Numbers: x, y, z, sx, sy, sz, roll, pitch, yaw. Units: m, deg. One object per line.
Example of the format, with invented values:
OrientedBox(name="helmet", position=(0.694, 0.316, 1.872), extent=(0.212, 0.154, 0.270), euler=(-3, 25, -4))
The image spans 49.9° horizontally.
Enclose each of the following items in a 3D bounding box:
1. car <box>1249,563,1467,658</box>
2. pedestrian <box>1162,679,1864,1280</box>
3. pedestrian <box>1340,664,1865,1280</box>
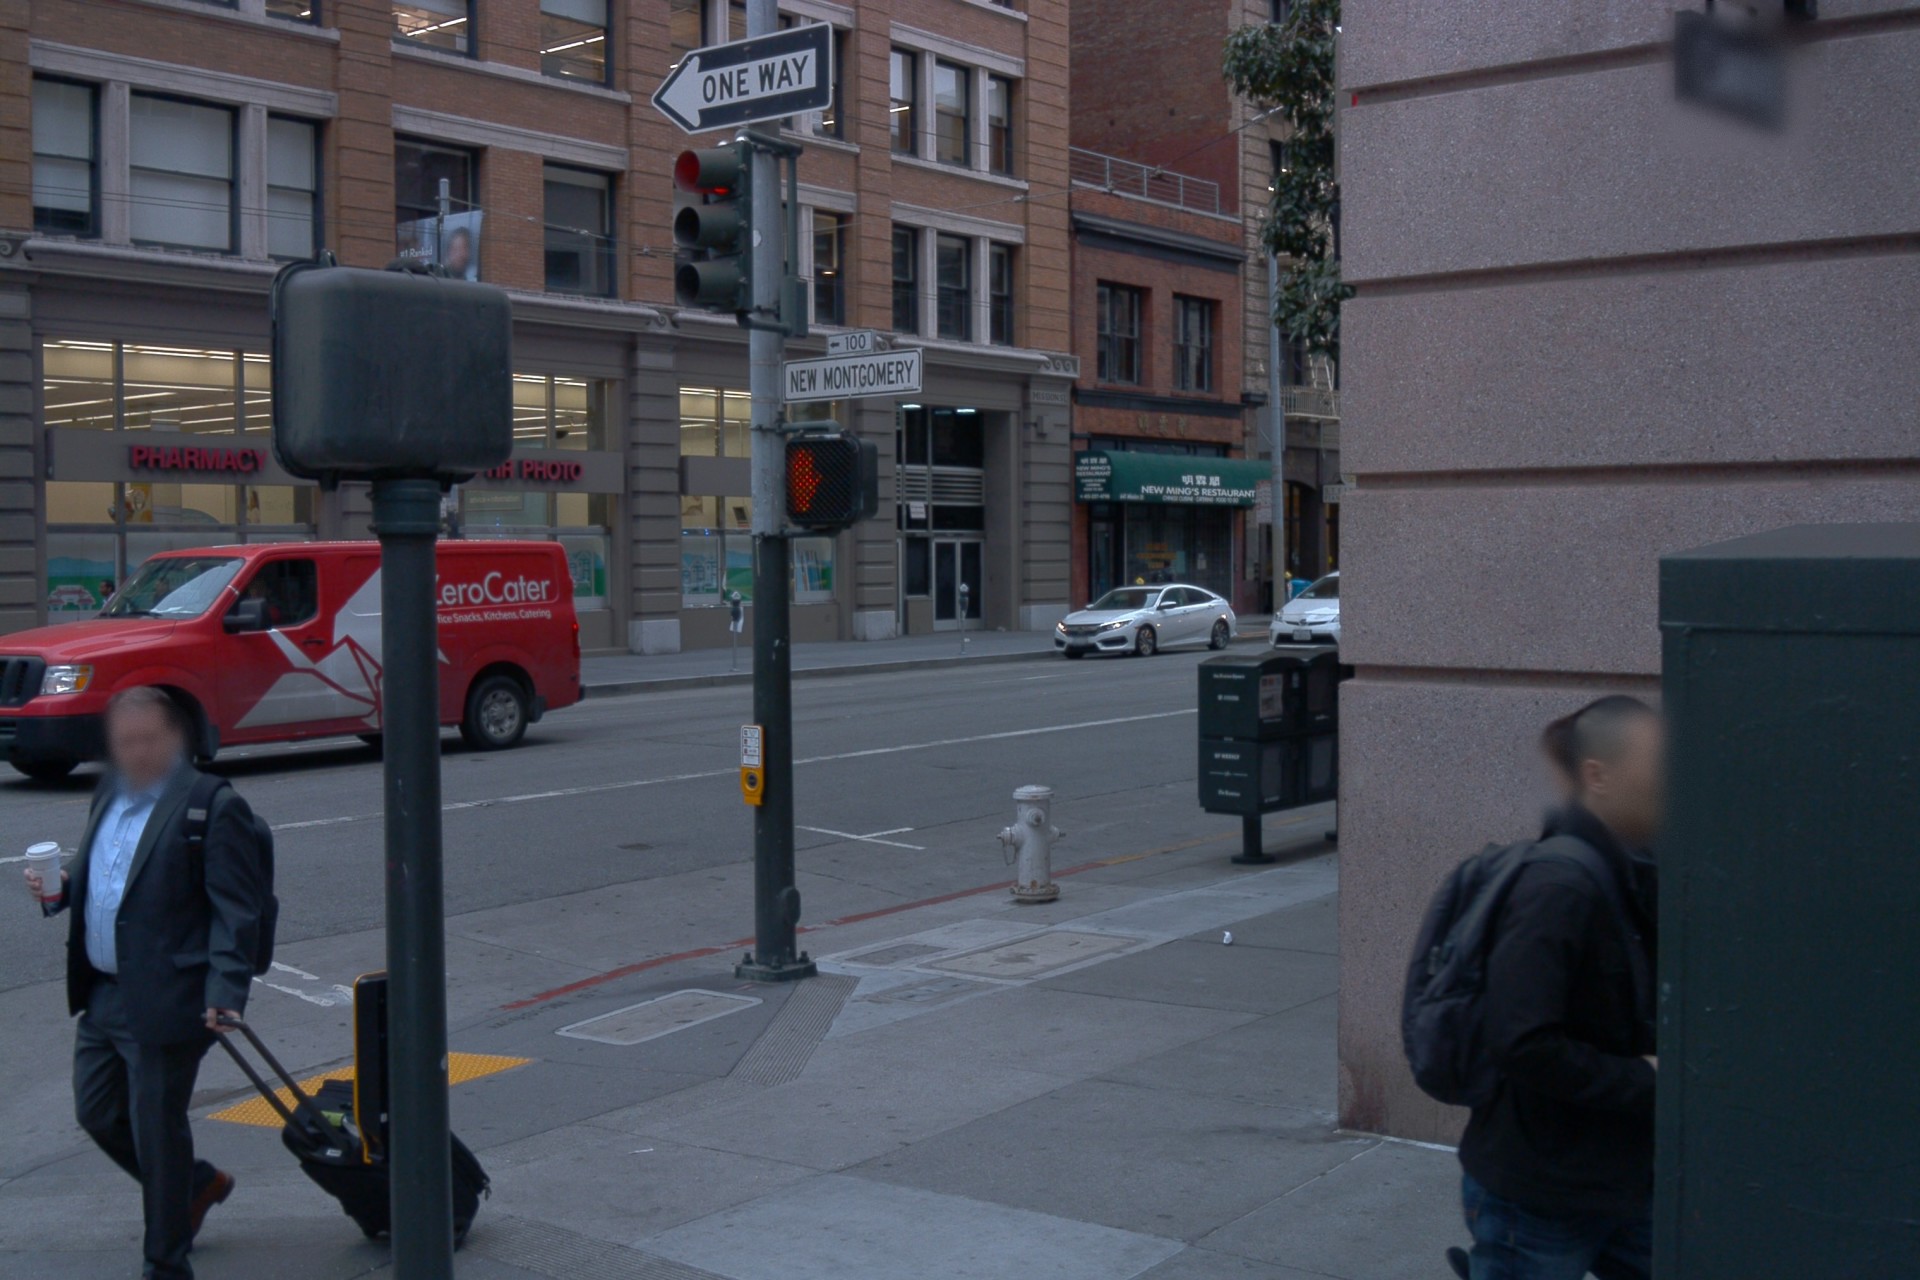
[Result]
OrientedBox(name="car", position=(7.021, -0.501, 36.132), extent=(1.948, 1.550, 4.391), euler=(0, 1, 38))
OrientedBox(name="pedestrian", position=(1.027, 0.975, 3.862), extent=(1.083, 1.770, 0.710), euler=(0, 1, 36))
OrientedBox(name="pedestrian", position=(1.525, 0.920, 4.907), extent=(0.963, 1.700, 0.780), euler=(0, 1, 40))
